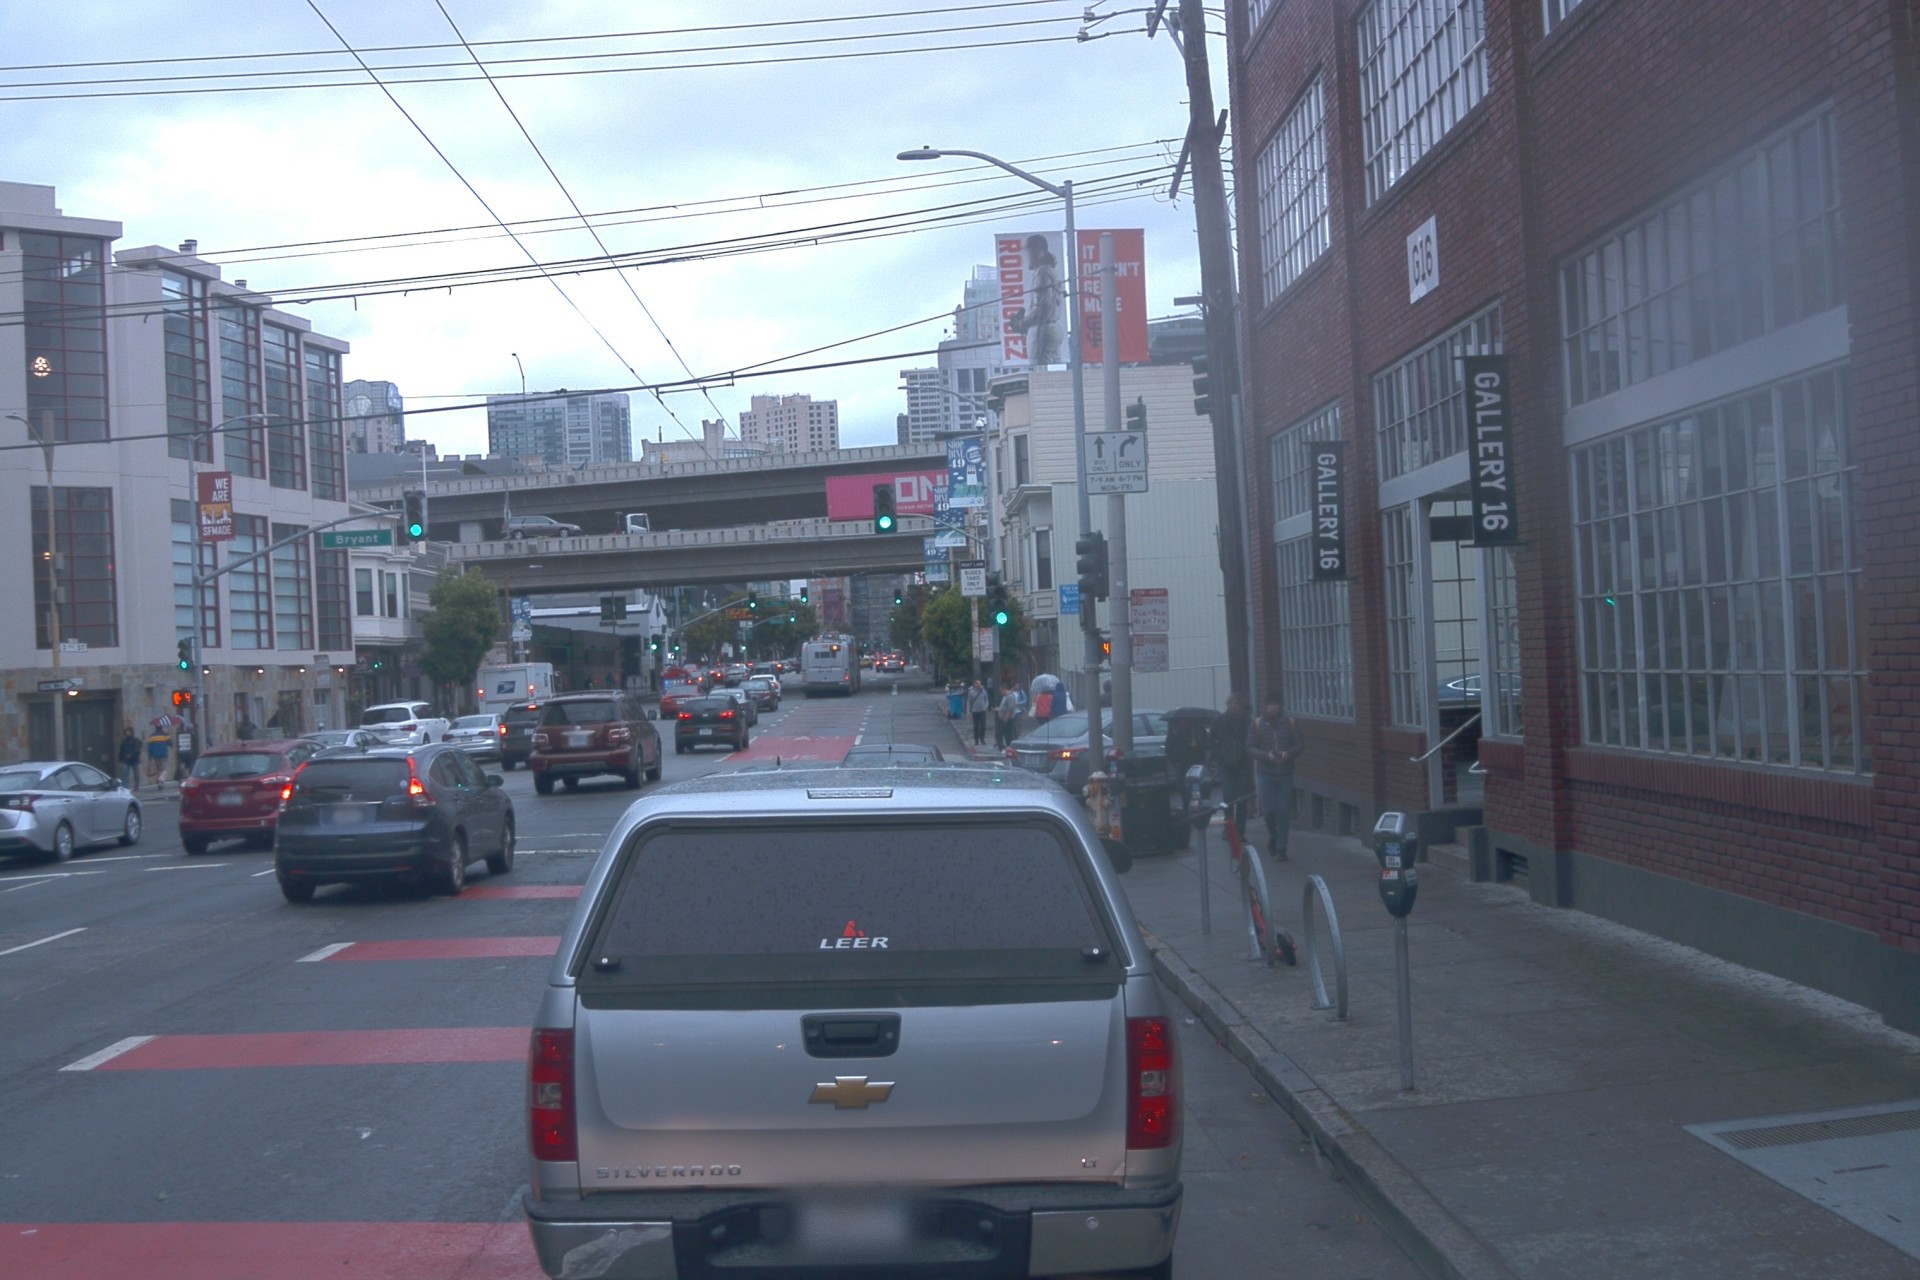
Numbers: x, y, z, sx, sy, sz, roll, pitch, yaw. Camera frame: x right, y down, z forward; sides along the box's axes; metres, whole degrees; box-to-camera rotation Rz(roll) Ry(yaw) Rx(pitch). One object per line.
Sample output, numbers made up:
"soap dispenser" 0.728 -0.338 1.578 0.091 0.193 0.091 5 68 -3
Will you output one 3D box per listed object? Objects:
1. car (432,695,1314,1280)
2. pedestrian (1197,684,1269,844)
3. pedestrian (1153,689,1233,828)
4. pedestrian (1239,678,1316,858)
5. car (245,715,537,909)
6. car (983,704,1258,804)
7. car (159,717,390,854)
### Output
"car" -0.338 1.296 8.458 2.411 2.070 5.546 0 -1 -2
"pedestrian" 3.250 1.460 24.743 0.749 1.870 0.954 0 -1 2
"pedestrian" 3.204 1.620 28.596 1.015 1.870 1.039 0 -1 3
"pedestrian" 3.292 1.309 21.566 0.763 1.820 0.915 0 -1 7
"car" -6.235 1.828 23.313 2.073 1.860 4.587 0 -1 -1
"car" 2.738 1.858 34.867 4.415 1.500 2.070 0 -1 -40
"car" -10.319 2.138 31.609 2.107 1.830 4.538 0 -1 -1
